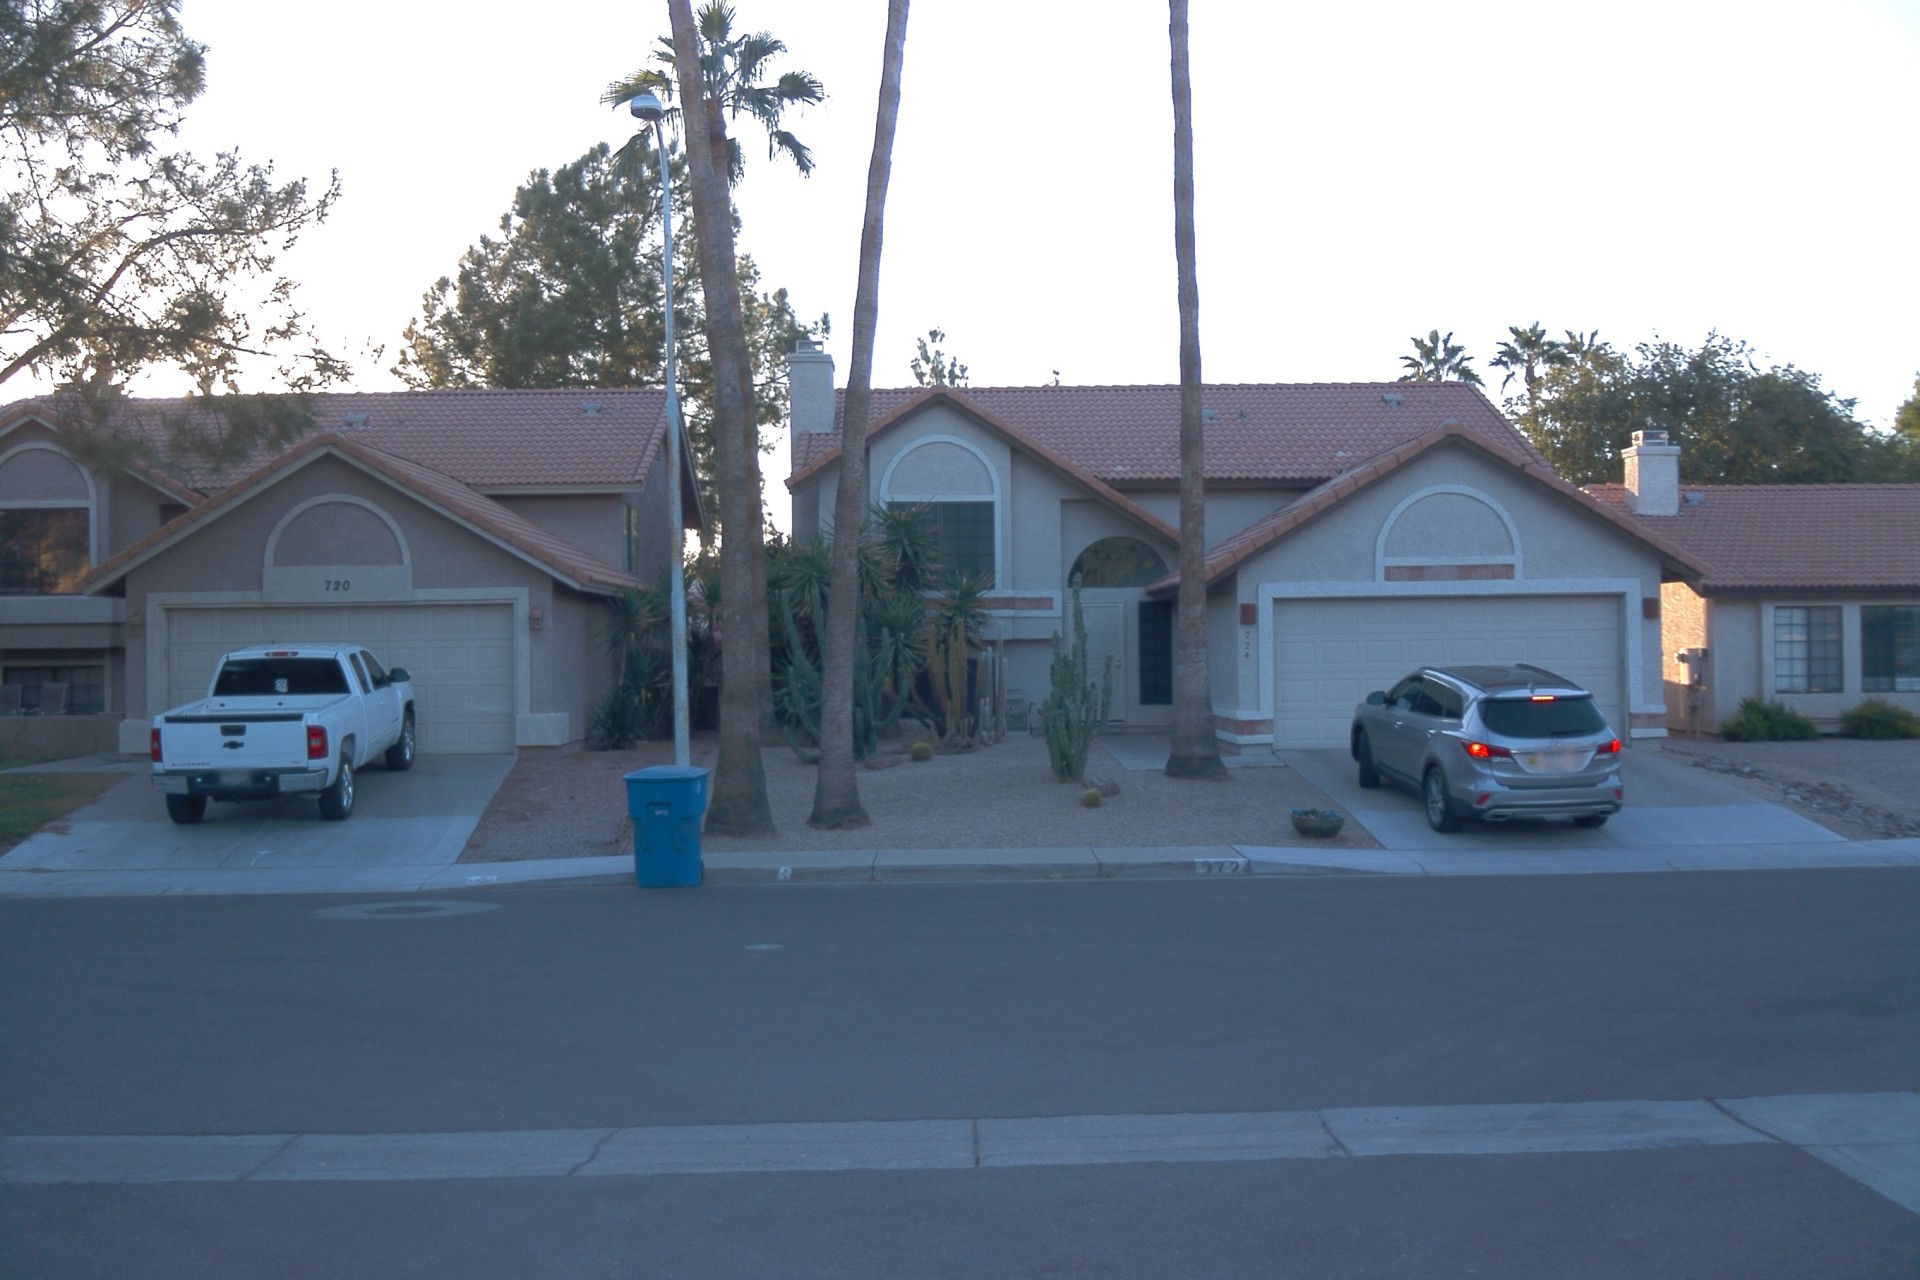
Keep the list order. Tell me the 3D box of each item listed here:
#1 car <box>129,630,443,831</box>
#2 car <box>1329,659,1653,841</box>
[{"bbox_3d":[-8.102,1.046,25.675,2.325,2.200,5.595,0,-1,-3],"label":"car"},{"bbox_3d":[5.960,1.193,24.030,2.108,1.880,4.731,0,-1,-6],"label":"car"}]
